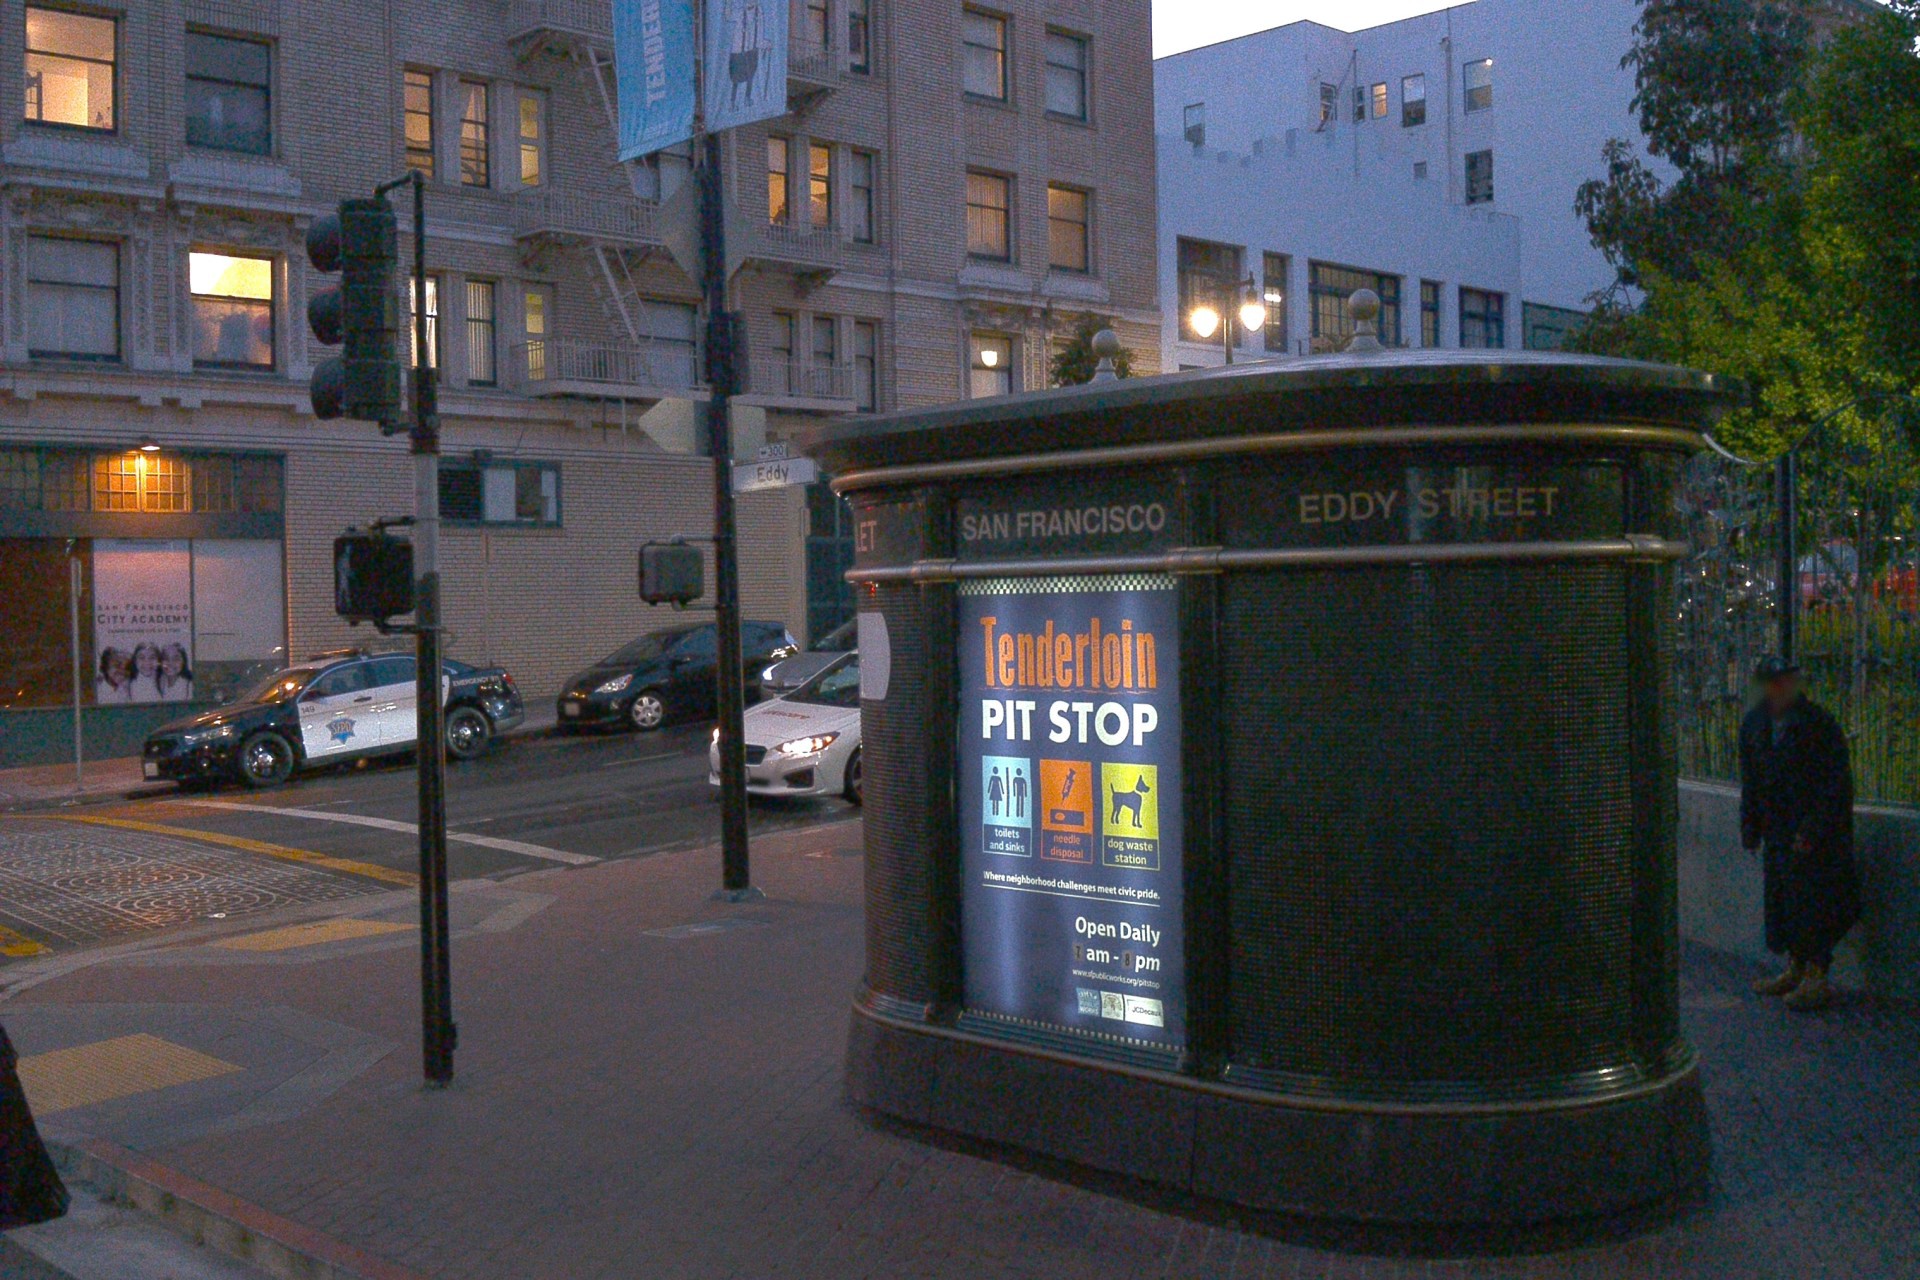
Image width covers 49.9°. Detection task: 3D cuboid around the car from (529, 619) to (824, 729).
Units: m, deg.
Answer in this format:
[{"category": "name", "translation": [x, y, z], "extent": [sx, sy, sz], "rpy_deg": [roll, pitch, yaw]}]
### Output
[{"category": "car", "translation": [-4.200, 0.456, 30.936], "extent": [3.987, 1.540, 1.958], "rpy_deg": [-1, 1, -44]}]

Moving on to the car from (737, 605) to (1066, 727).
[{"category": "car", "translation": [-0.759, 0.320, 29.471], "extent": [4.572, 1.610, 1.942], "rpy_deg": [-1, 1, -44]}]

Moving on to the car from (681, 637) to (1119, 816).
[{"category": "car", "translation": [-0.547, 0.818, 21.812], "extent": [4.434, 1.670, 1.945], "rpy_deg": [-1, 1, -43]}]

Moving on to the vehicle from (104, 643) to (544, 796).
[{"category": "vehicle", "translation": [-8.186, 0.947, 26.960], "extent": [2.095, 1.750, 5.105], "rpy_deg": [1, 1, 44]}]
